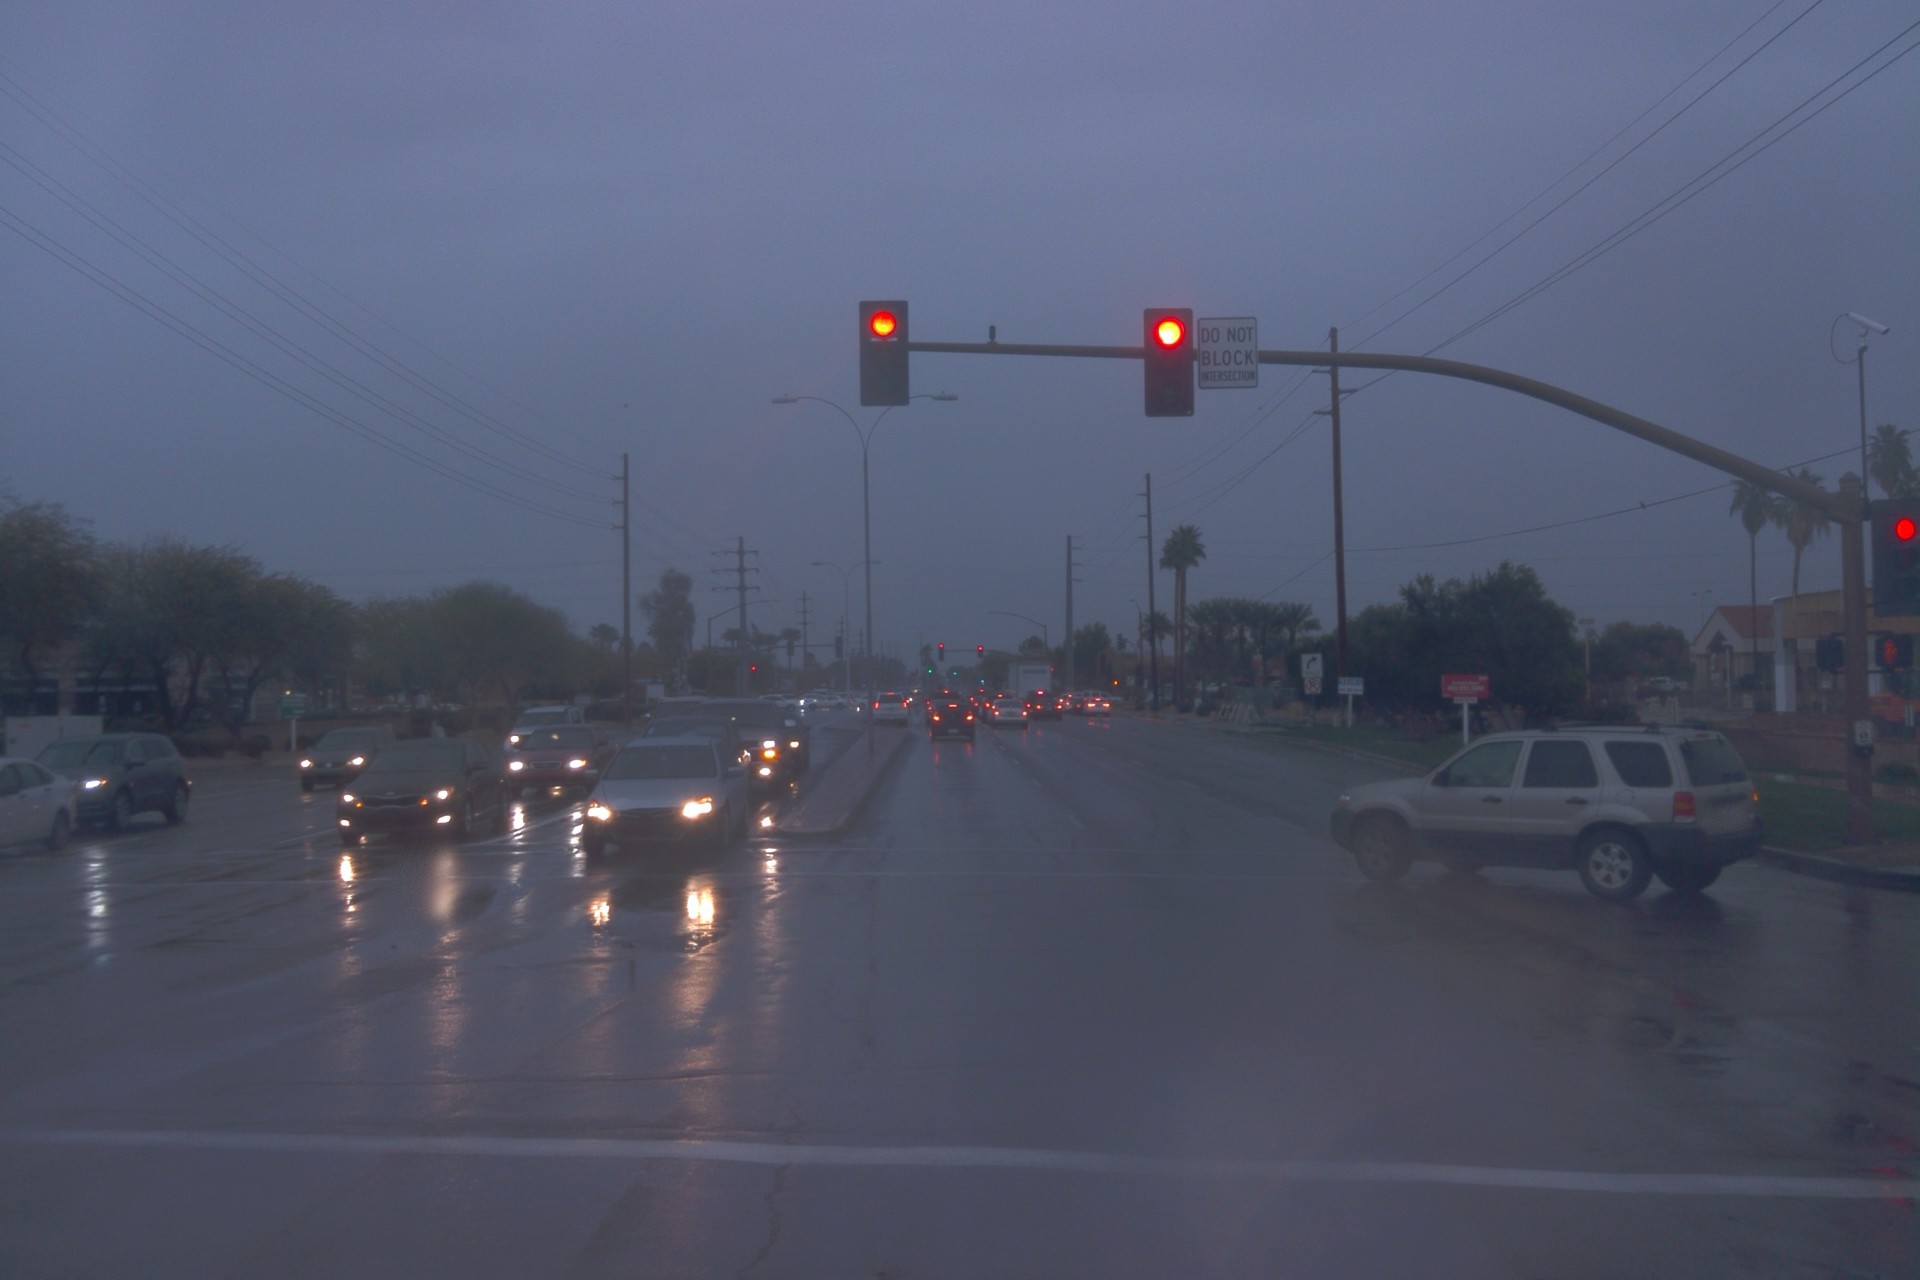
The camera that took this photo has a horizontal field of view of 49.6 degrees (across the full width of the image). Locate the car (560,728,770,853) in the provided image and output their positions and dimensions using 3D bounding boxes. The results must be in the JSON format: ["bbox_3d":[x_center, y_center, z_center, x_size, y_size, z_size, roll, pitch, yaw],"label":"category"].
[{"bbox_3d":[-3.794,1.930,27.539,2.102,1.410,4.605,0,-1,1],"label":"car"}]

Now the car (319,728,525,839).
[{"bbox_3d":[-8.040,2.112,31.497,2.042,1.440,4.763,0,-1,-2],"label":"car"}]

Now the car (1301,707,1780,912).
[{"bbox_3d":[5.983,1.663,21.787,1.998,1.870,4.422,1,-1,-44],"label":"car"}]
